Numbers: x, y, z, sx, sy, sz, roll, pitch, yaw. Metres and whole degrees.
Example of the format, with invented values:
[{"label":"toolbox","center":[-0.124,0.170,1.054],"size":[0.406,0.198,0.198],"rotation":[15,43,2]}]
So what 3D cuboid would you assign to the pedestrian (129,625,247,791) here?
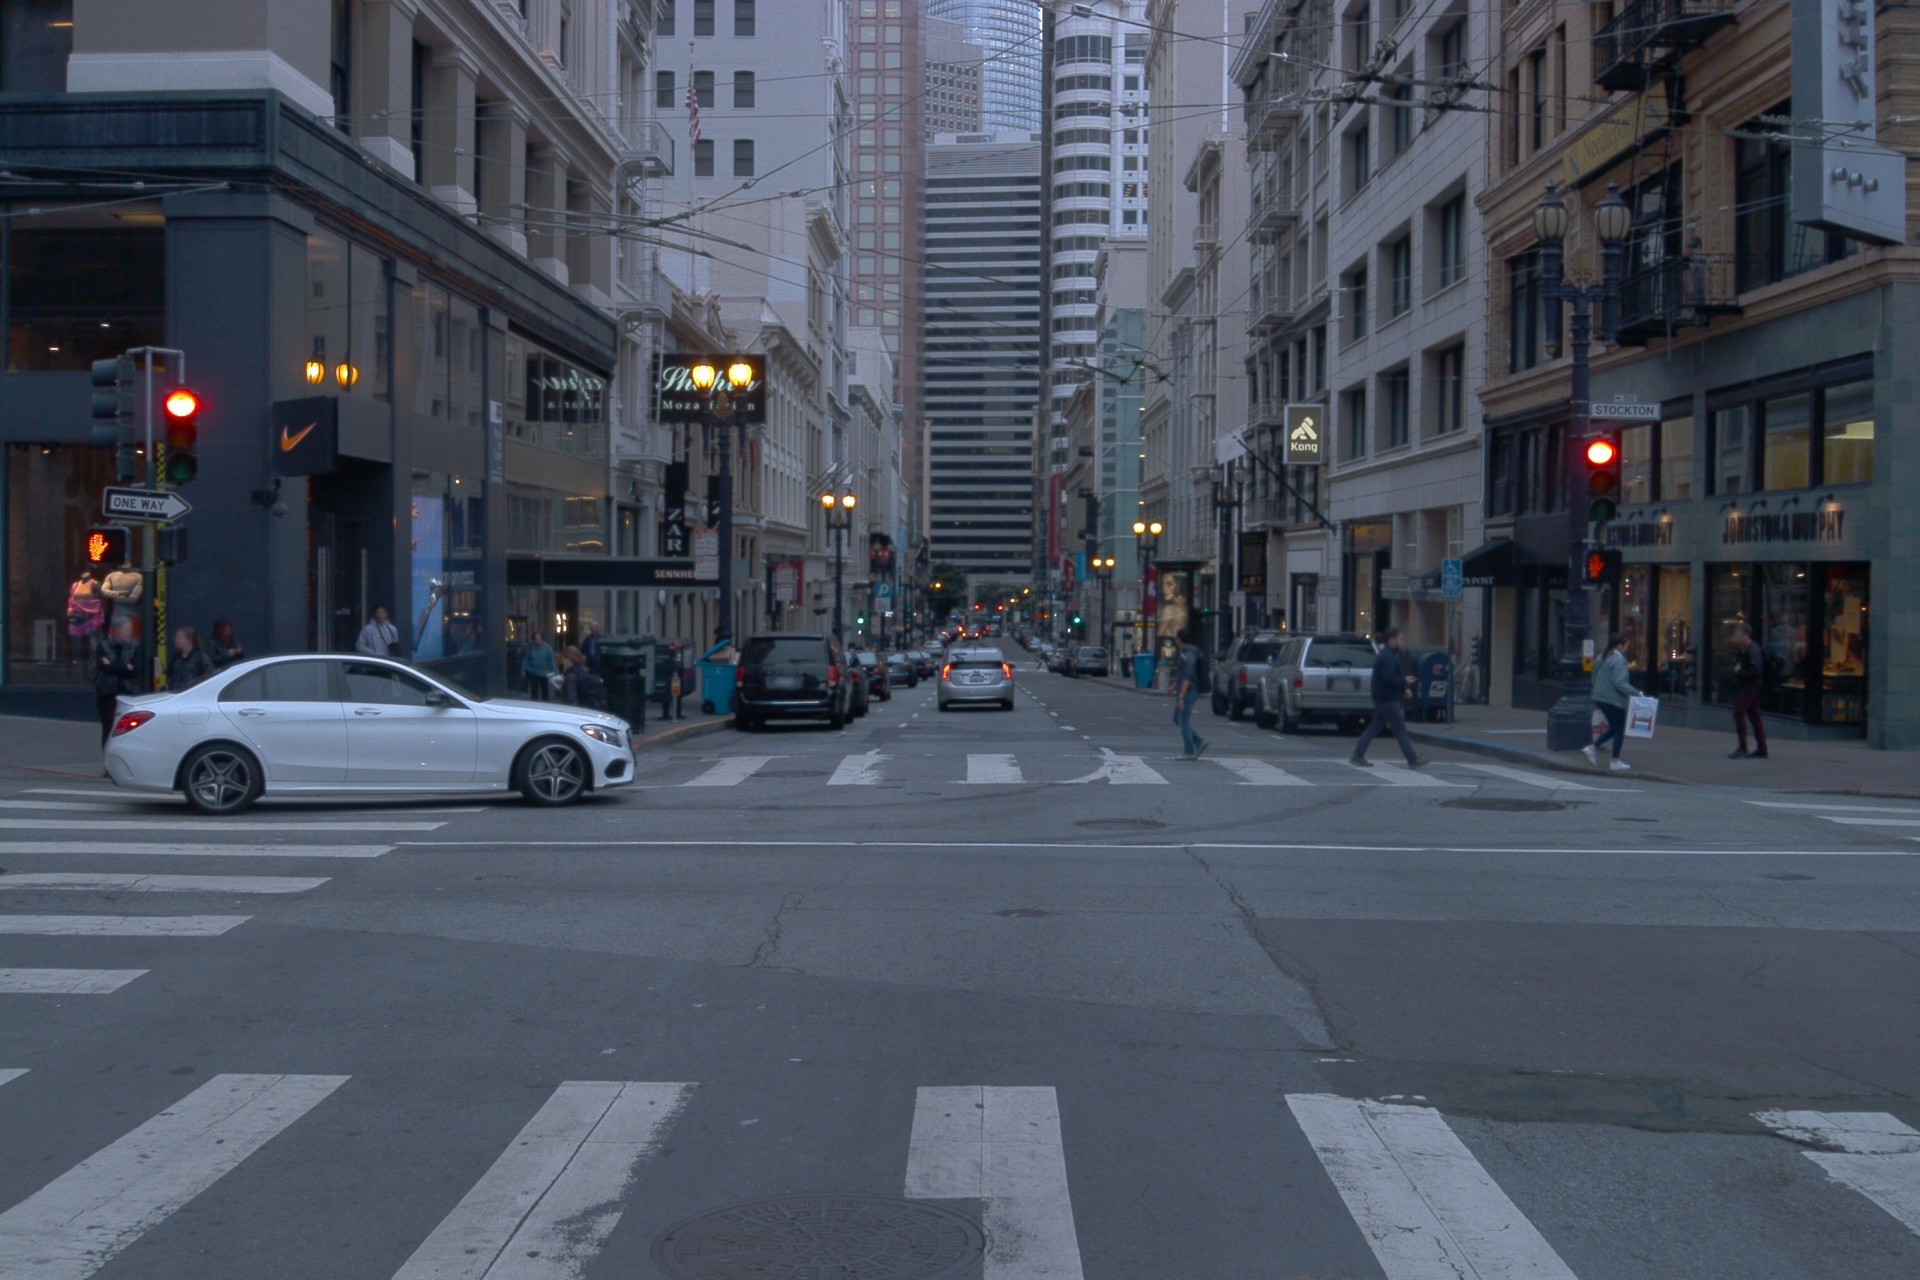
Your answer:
[{"label":"pedestrian","center":[-8.173,0.702,21.705],"size":[0.954,1.710,1.071],"rotation":[0,1,-8]}]

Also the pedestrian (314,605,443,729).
[{"label":"pedestrian","center":[-8.556,0.377,30.126],"size":[1.285,1.773,1.302],"rotation":[0,1,34]}]

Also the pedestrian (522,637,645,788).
[{"label":"pedestrian","center":[-4.178,0.785,22.773],"size":[1.122,1.630,0.973],"rotation":[0,1,6]}]

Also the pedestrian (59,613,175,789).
[{"label":"pedestrian","center":[-8.865,0.622,21.555],"size":[0.897,1.800,1.086],"rotation":[0,1,-8]}]

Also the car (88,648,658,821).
[{"label":"car","center":[-5.320,0.811,18.970],"size":[4.815,1.440,2.087],"rotation":[0,1,-13]}]

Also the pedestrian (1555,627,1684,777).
[{"label":"pedestrian","center":[7.742,0.709,24.076],"size":[1.090,1.710,1.177],"rotation":[0,1,-3]}]

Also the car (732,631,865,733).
[{"label":"car","center":[-2.828,0.696,36.779],"size":[1.946,1.699,4.331],"rotation":[0,1,2]}]

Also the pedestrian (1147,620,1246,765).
[{"label":"pedestrian","center":[2.909,0.626,25.294],"size":[1.124,1.750,1.075],"rotation":[0,1,2]}]

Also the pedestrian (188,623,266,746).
[{"label":"pedestrian","center":[-9.082,0.538,25.345],"size":[0.686,1.500,0.638],"rotation":[0,1,9]}]

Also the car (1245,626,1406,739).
[{"label":"car","center":[6.359,0.695,36.049],"size":[1.952,1.860,4.298],"rotation":[0,1,-1]}]

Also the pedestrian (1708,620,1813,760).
[{"label":"pedestrian","center":[9.716,0.596,24.846],"size":[1.001,1.680,0.672],"rotation":[0,1,1]}]

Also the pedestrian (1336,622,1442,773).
[{"label":"pedestrian","center":[5.090,0.663,24.327],"size":[1.111,1.760,0.953],"rotation":[0,1,4]}]
